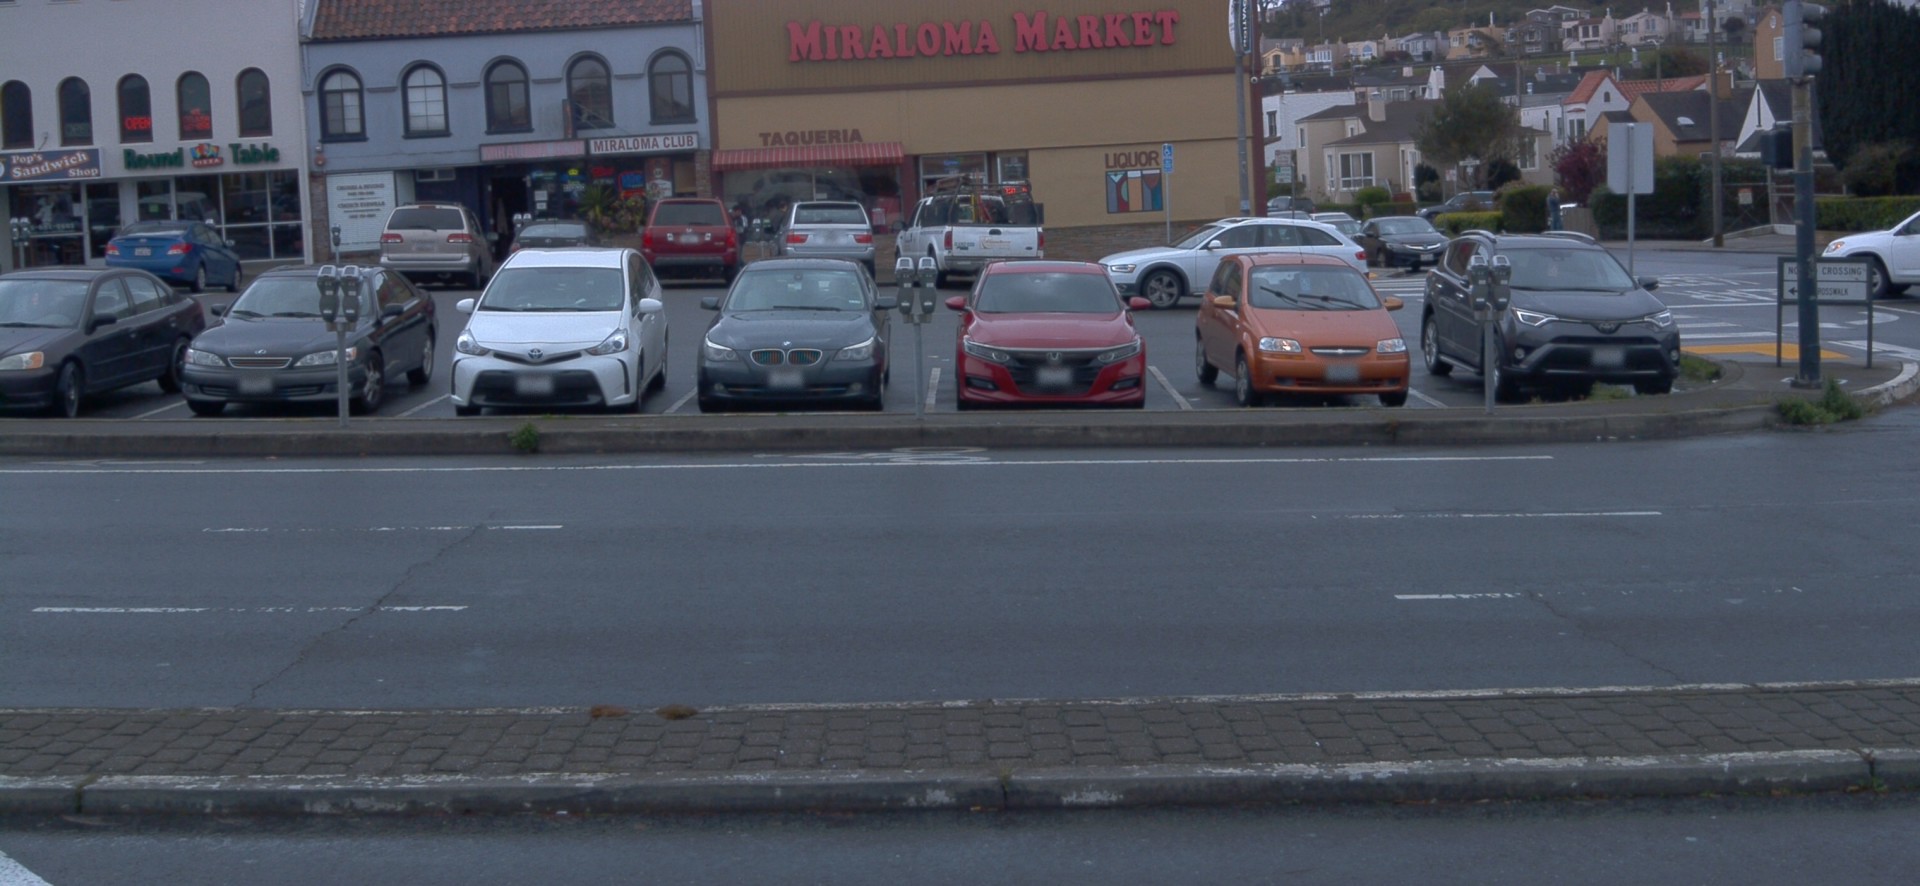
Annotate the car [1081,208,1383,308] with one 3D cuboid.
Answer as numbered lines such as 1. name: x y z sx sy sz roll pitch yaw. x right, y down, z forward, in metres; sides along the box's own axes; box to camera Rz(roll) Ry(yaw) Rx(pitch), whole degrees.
1. car: 4.570 -3.171 34.929 4.668 1.604 2.074 -2 5 -14

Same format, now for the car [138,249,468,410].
1. car: -6.721 -1.284 21.702 2.023 1.392 4.712 0 6 -1

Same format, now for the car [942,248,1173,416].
1. car: 0.904 -1.268 21.830 2.185 1.461 4.636 0 6 -1

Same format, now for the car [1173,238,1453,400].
1. car: 3.601 -1.394 21.816 2.049 1.462 4.037 0 6 -4

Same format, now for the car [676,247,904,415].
1. car: -1.660 -1.268 21.658 2.112 1.461 4.574 0 6 -1

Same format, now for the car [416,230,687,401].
1. car: -4.062 -1.415 21.305 2.132 1.491 4.678 0 6 -4

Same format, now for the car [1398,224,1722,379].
1. car: 6.387 -1.638 22.575 2.205 1.461 4.580 0 6 0
